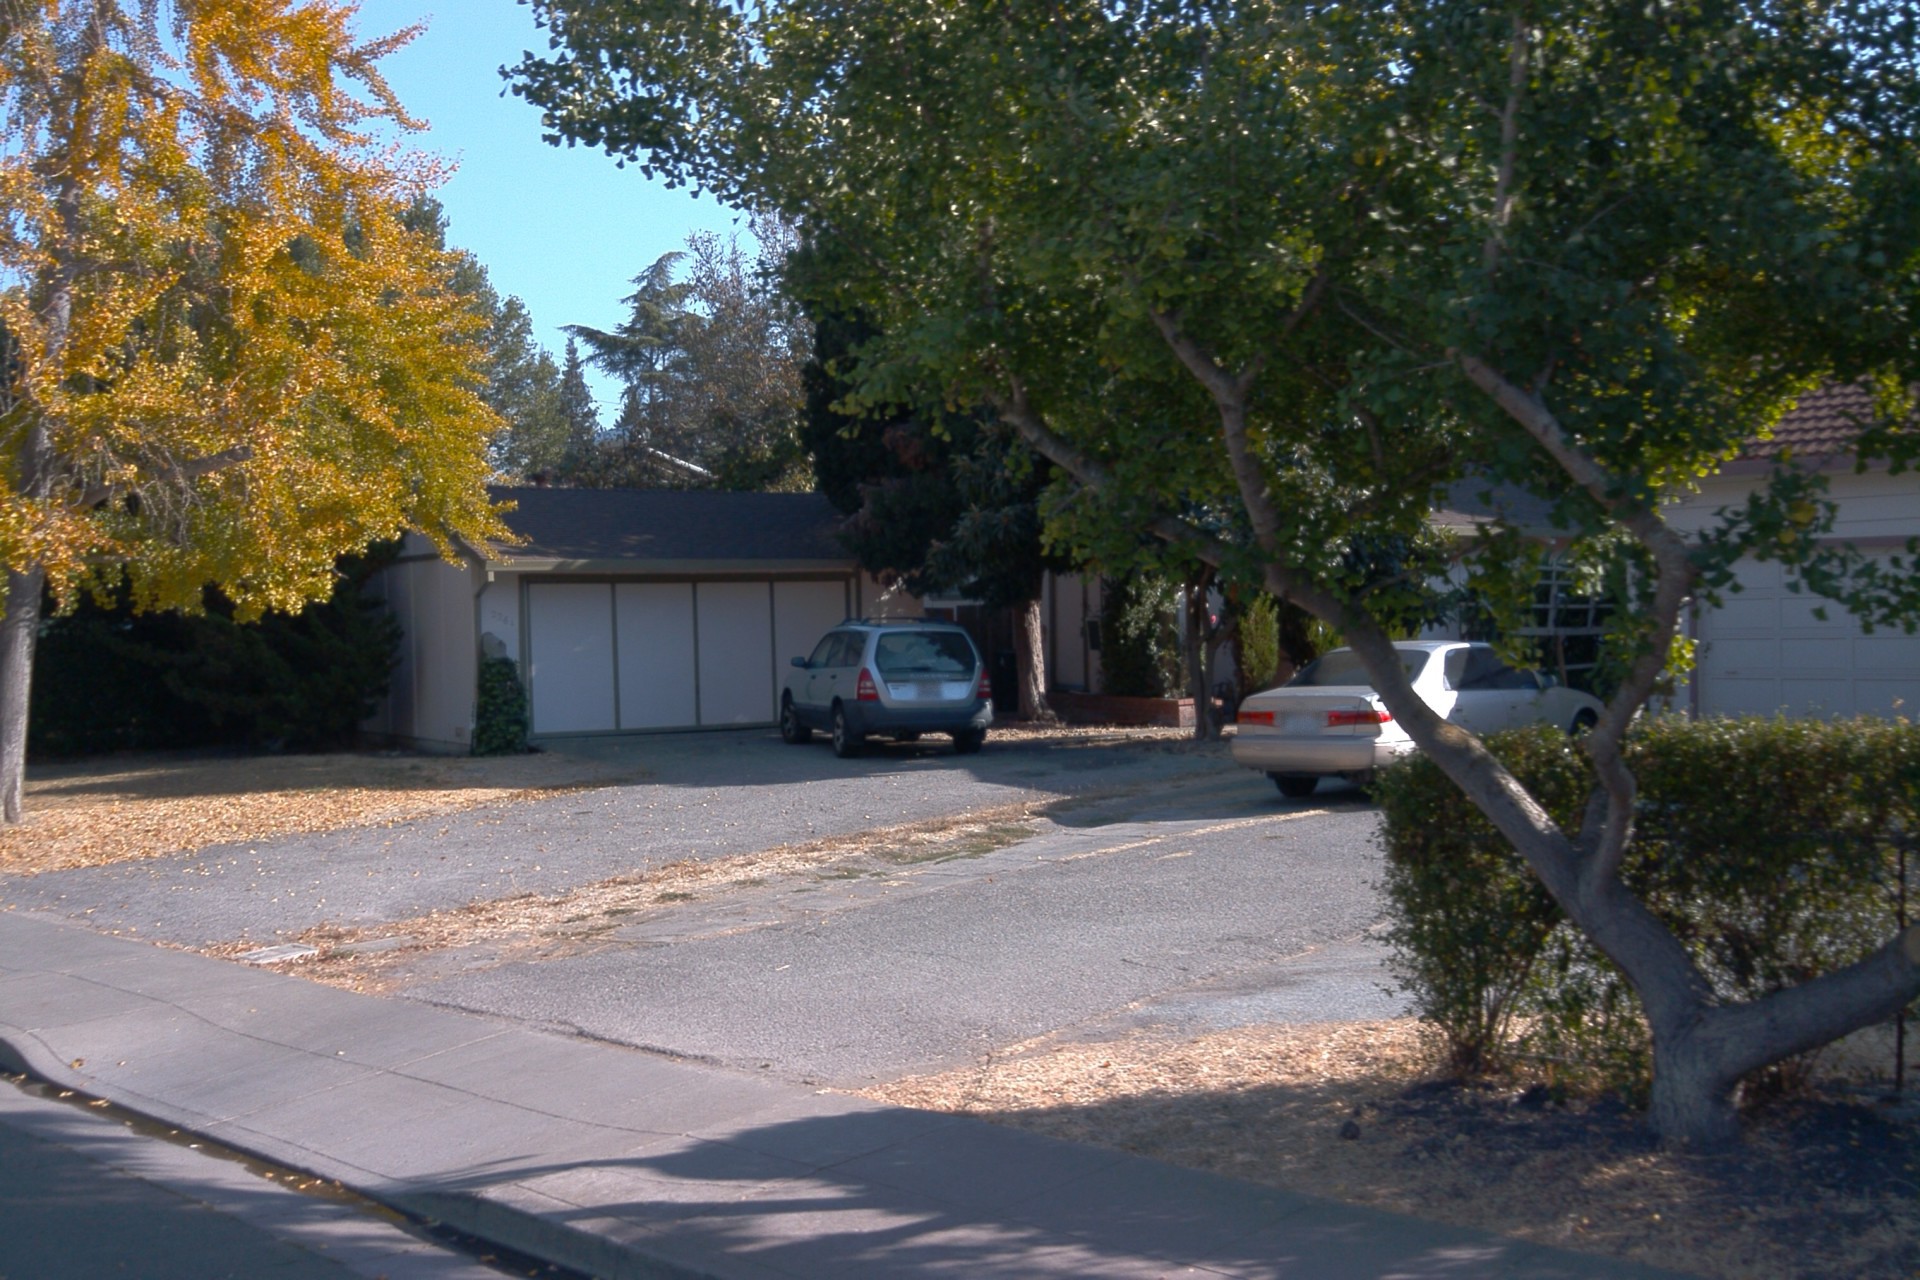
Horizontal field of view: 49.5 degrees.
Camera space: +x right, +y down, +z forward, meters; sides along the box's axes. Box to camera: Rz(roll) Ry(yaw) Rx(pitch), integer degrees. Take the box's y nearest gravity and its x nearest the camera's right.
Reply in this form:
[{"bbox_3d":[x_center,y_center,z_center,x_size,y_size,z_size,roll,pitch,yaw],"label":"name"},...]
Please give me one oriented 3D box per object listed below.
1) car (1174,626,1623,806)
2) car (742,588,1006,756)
[{"bbox_3d":[4.263,0.662,19.754,2.077,1.500,4.601,0,-1,43],"label":"car"},{"bbox_3d":[-1.171,0.377,25.510,2.049,1.860,4.626,1,0,-18],"label":"car"}]
